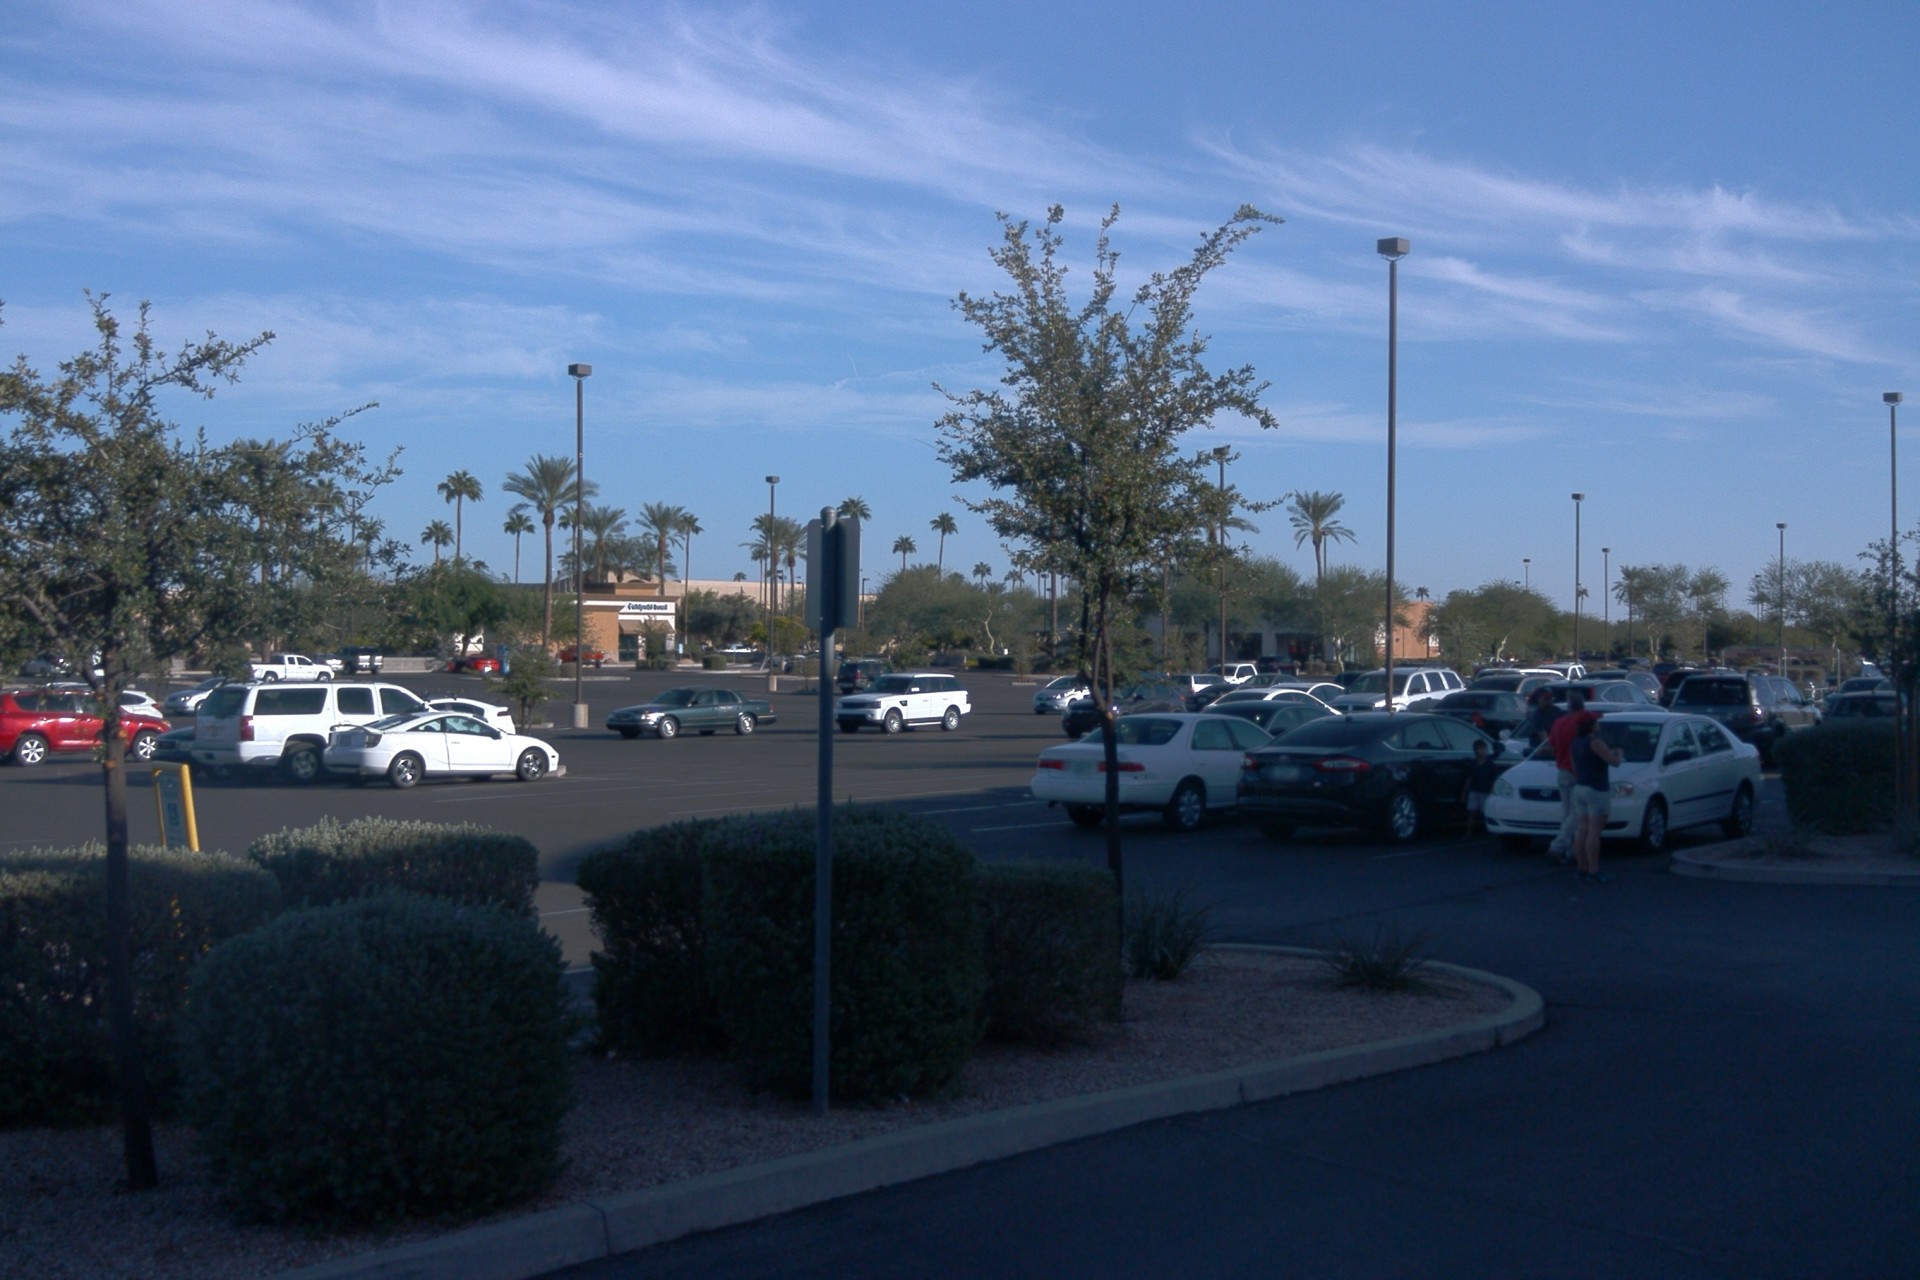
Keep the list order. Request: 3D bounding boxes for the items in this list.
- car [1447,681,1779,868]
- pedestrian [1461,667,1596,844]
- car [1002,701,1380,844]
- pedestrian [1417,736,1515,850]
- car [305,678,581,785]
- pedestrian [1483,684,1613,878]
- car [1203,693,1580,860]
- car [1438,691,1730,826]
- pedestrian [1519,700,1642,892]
[{"bbox_3d":[7.426,1.403,23.483,1.907,1.770,4.730,0,0,40],"label":"car"},{"bbox_3d":[6.702,1.325,24.655,1.223,2.000,1.069,0,0,36],"label":"pedestrian"},{"bbox_3d":[3.025,1.603,26.657,4.908,1.500,2.033,0,0,-42],"label":"car"},{"bbox_3d":[5.758,1.722,23.791,0.832,1.210,0.817,0,0,36],"label":"pedestrian"},{"bbox_3d":[-9.214,1.582,37.555,2.059,1.720,4.404,0,0,42],"label":"car"},{"bbox_3d":[5.849,1.376,20.888,1.170,1.850,1.117,0,0,11],"label":"pedestrian"},{"bbox_3d":[5.246,1.523,24.910,2.063,1.630,5.110,0,0,43],"label":"car"},{"bbox_3d":[8.889,1.589,29.478,2.190,1.580,5.110,0,0,38],"label":"car"},{"bbox_3d":[5.860,1.448,19.747,0.823,1.720,0.846,0,0,43],"label":"pedestrian"}]
